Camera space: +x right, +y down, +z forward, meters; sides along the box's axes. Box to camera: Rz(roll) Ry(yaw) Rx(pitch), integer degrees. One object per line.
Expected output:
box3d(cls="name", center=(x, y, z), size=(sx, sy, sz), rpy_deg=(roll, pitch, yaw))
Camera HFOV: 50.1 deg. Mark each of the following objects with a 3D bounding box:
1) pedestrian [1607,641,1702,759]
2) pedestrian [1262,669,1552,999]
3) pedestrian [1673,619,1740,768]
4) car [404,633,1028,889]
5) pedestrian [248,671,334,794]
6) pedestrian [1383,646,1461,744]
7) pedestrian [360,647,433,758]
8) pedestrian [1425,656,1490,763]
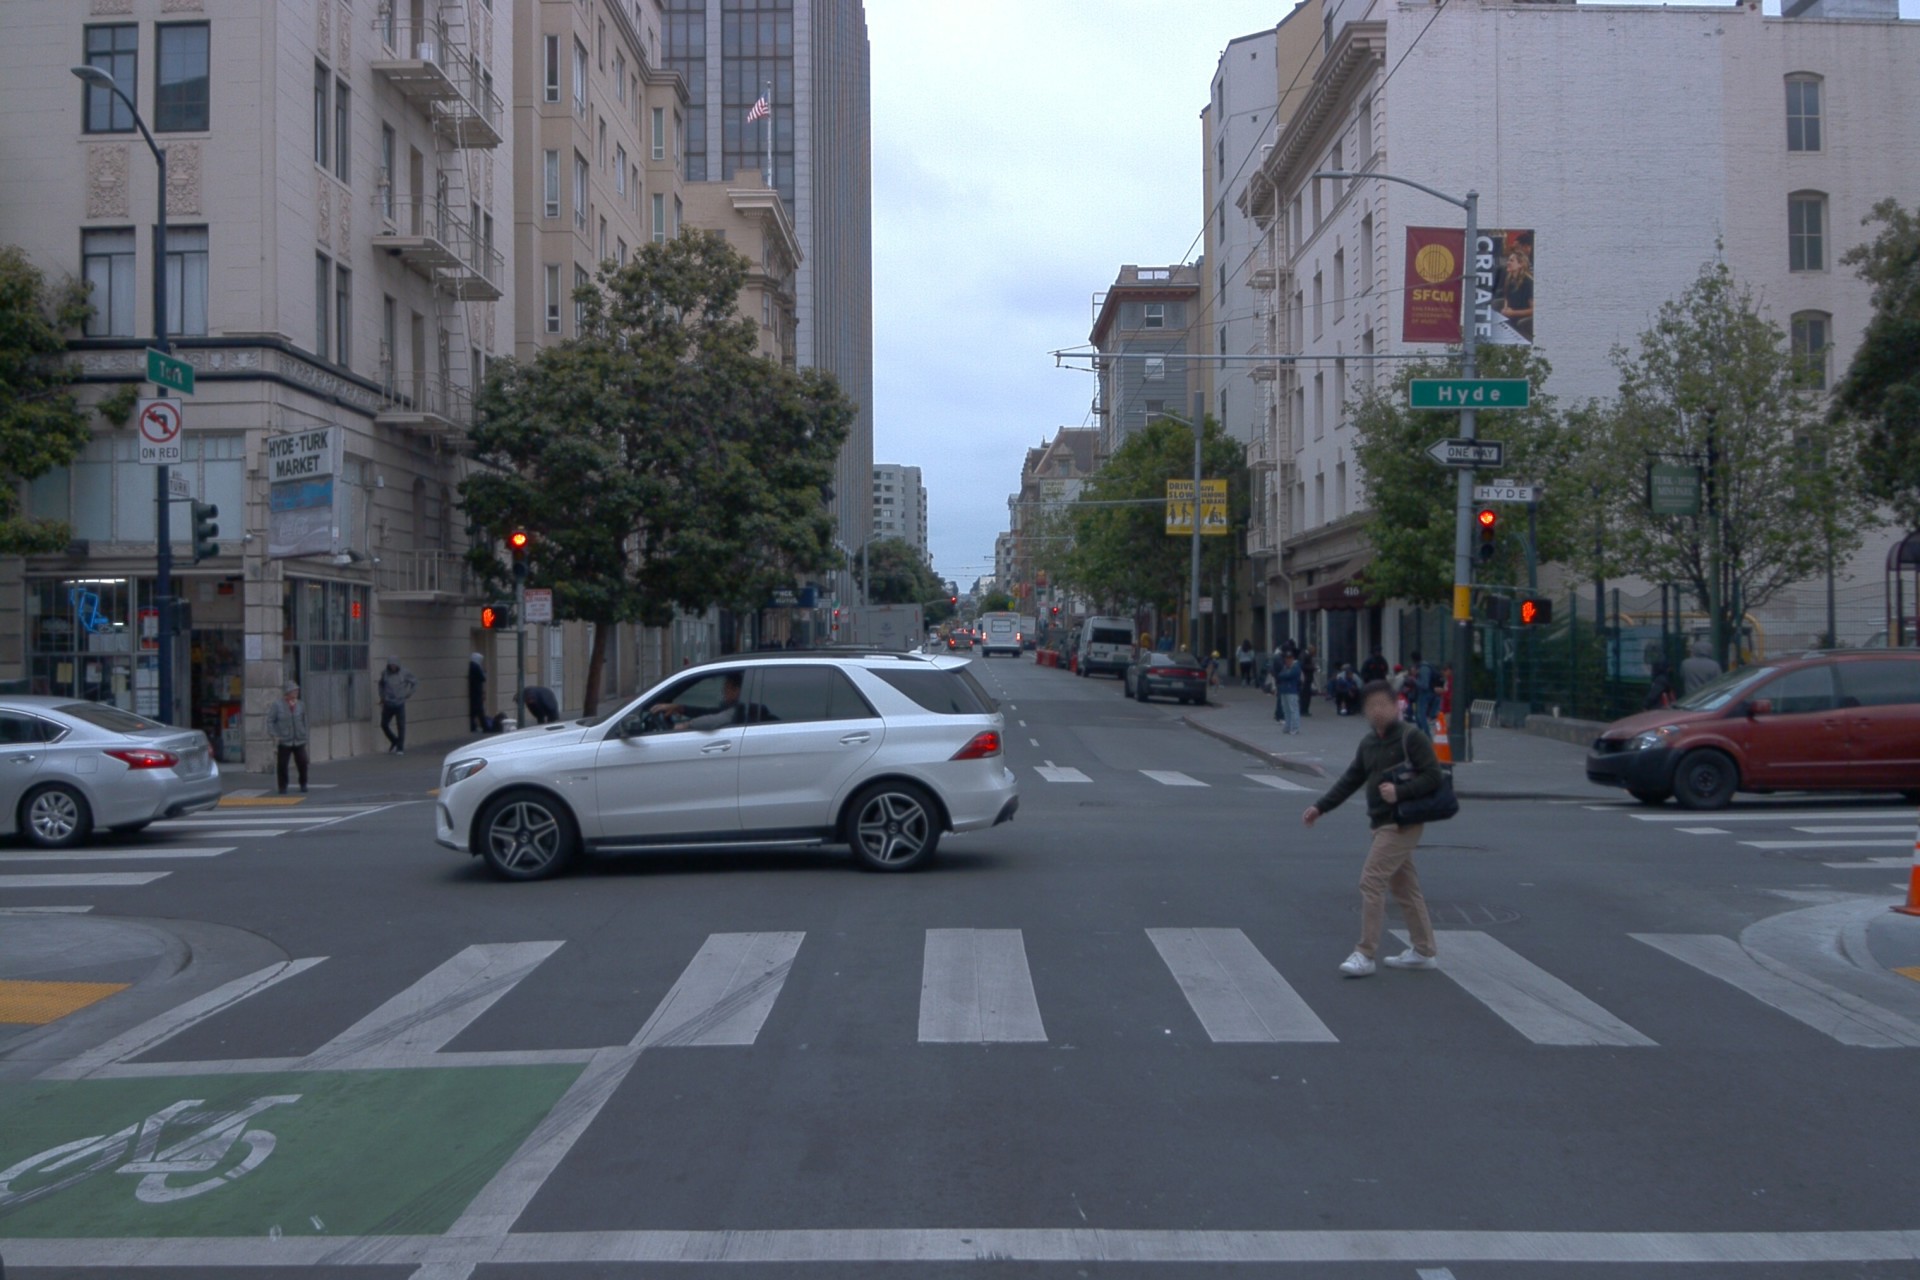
box3d(cls="pedestrian", center=(10.446, 0.887, 30.948), size=(0.943, 1.720, 0.964), rpy_deg=(-1, 1, -30))
box3d(cls="pedestrian", center=(2.486, 1.046, 11.592), size=(1.317, 1.720, 1.108), rpy_deg=(0, 1, -5))
box3d(cls="pedestrian", center=(10.282, 0.713, 28.317), size=(0.835, 2.010, 0.795), rpy_deg=(0, 1, 22))
box3d(cls="car", center=(-1.871, 0.930, 16.919), size=(4.808, 1.930, 2.169), rpy_deg=(0, 1, 1))
box3d(cls="pedestrian", center=(-9.239, 1.263, 28.412), size=(0.865, 1.620, 0.827), rpy_deg=(-1, 1, -40))
box3d(cls="pedestrian", center=(8.323, 0.976, 37.052), size=(0.930, 1.710, 1.050), rpy_deg=(-1, 1, -22))
box3d(cls="pedestrian", center=(-9.745, 1.065, 35.594), size=(0.928, 1.870, 1.019), rpy_deg=(0, 1, 3))
box3d(cls="pedestrian", center=(7.700, 1.062, 31.836), size=(0.906, 1.620, 0.868), rpy_deg=(0, 1, 9))
